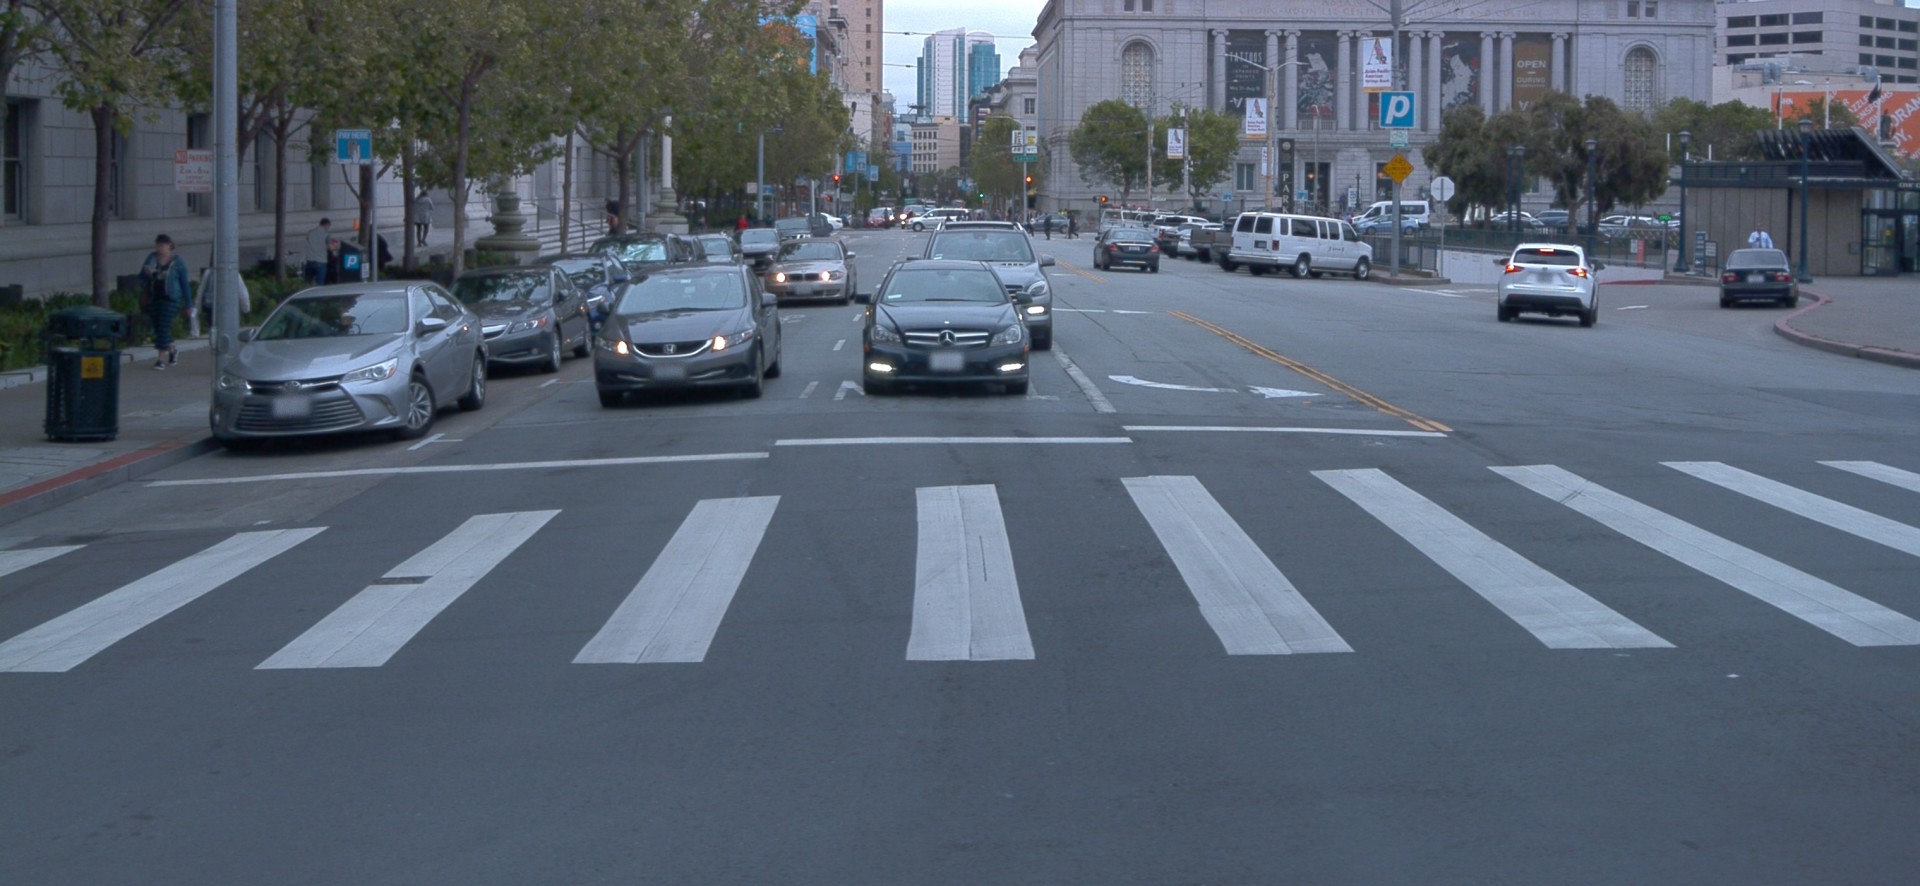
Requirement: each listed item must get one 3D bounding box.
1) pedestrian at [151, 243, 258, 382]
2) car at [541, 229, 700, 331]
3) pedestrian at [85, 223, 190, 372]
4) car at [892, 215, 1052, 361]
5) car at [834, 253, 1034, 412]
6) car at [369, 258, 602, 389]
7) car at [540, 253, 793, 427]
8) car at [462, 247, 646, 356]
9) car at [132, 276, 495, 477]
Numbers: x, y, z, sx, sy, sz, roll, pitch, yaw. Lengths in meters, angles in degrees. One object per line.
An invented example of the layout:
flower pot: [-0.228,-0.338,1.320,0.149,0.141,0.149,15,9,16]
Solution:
pedestrian: [-9.331,-1.629,25.507,1.012,1.654,0.859,0,2,-2]
car: [-6.357,-3.167,39.215,2.231,1.740,4.910,0,6,0]
pedestrian: [-10.365,-1.858,26.031,0.897,1.831,0.977,0,2,1]
car: [0.124,-2.324,29.852,2.128,1.890,4.701,0,6,-1]
car: [-0.373,-1.330,23.142,2.019,1.482,4.545,-1,6,-3]
car: [-6.342,-1.701,28.163,2.120,1.491,4.717,0,6,0]
car: [-3.131,-1.238,22.982,2.074,1.621,4.573,0,6,1]
car: [-6.448,-2.343,33.303,2.072,1.521,4.713,0,6,0]
car: [-6.227,-0.782,20.549,2.130,1.581,4.806,0,6,0]
